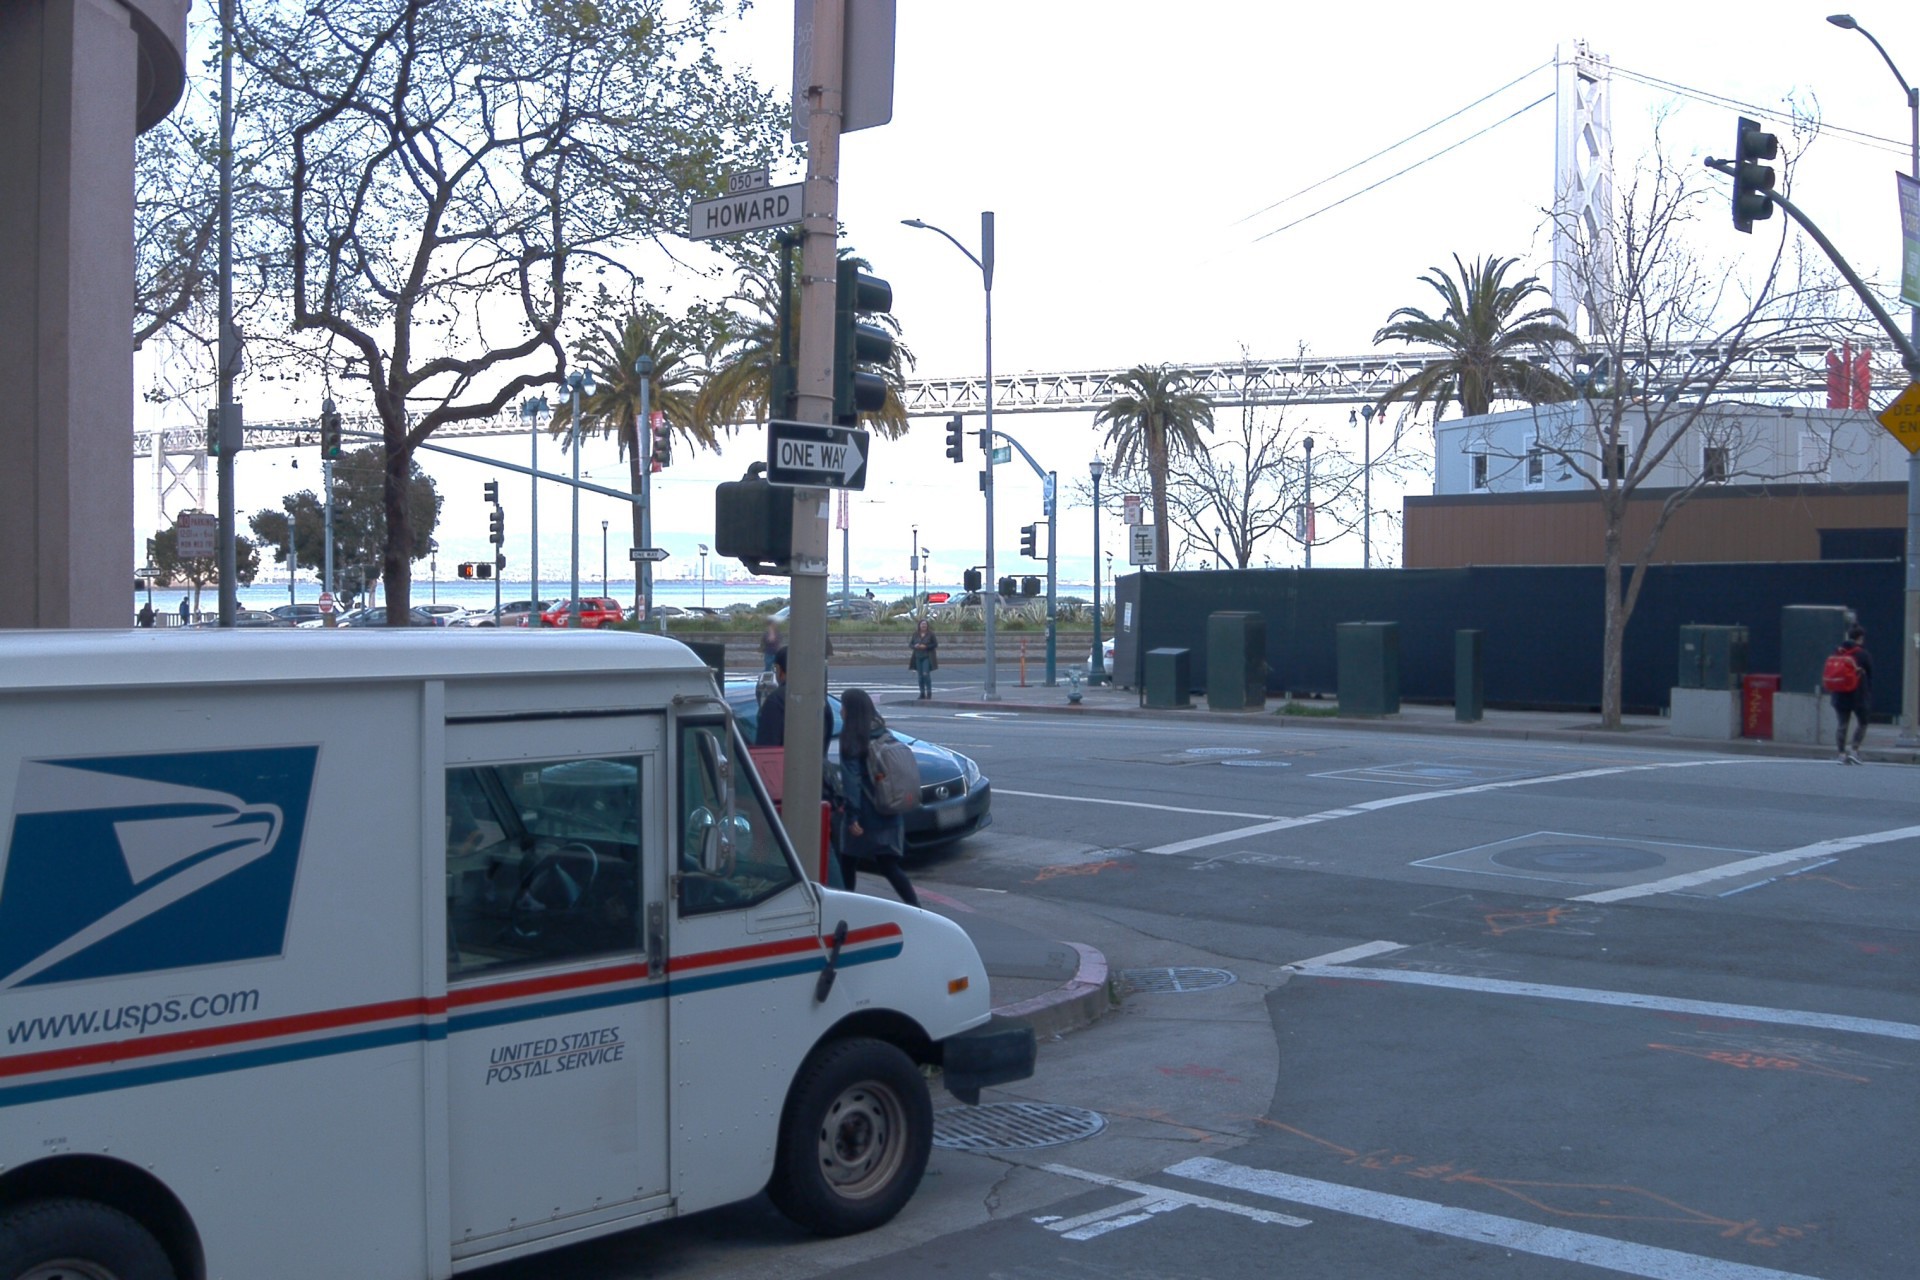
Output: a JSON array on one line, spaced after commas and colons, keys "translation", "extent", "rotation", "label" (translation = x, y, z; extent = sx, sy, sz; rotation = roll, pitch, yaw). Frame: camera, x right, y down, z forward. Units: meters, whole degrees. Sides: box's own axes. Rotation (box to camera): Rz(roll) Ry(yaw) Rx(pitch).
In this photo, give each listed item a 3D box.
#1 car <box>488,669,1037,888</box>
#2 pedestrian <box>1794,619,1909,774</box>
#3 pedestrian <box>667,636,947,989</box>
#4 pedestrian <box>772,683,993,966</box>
[{"translation": [-1.825, 1.078, 17.878], "extent": [4.756, 1.510, 2.075], "rotation": [1, 1, 42], "label": "car"}, {"translation": [10.443, 0.635, 24.075], "extent": [1.196, 1.760, 0.771], "rotation": [-1, 1, -40], "label": "pedestrian"}, {"translation": [-0.892, 0.926, 11.842], "extent": [1.344, 1.870, 0.960], "rotation": [1, 1, 45], "label": "pedestrian"}, {"translation": [-0.475, 1.080, 12.535], "extent": [1.030, 1.590, 0.872], "rotation": [1, 1, 45], "label": "pedestrian"}]
